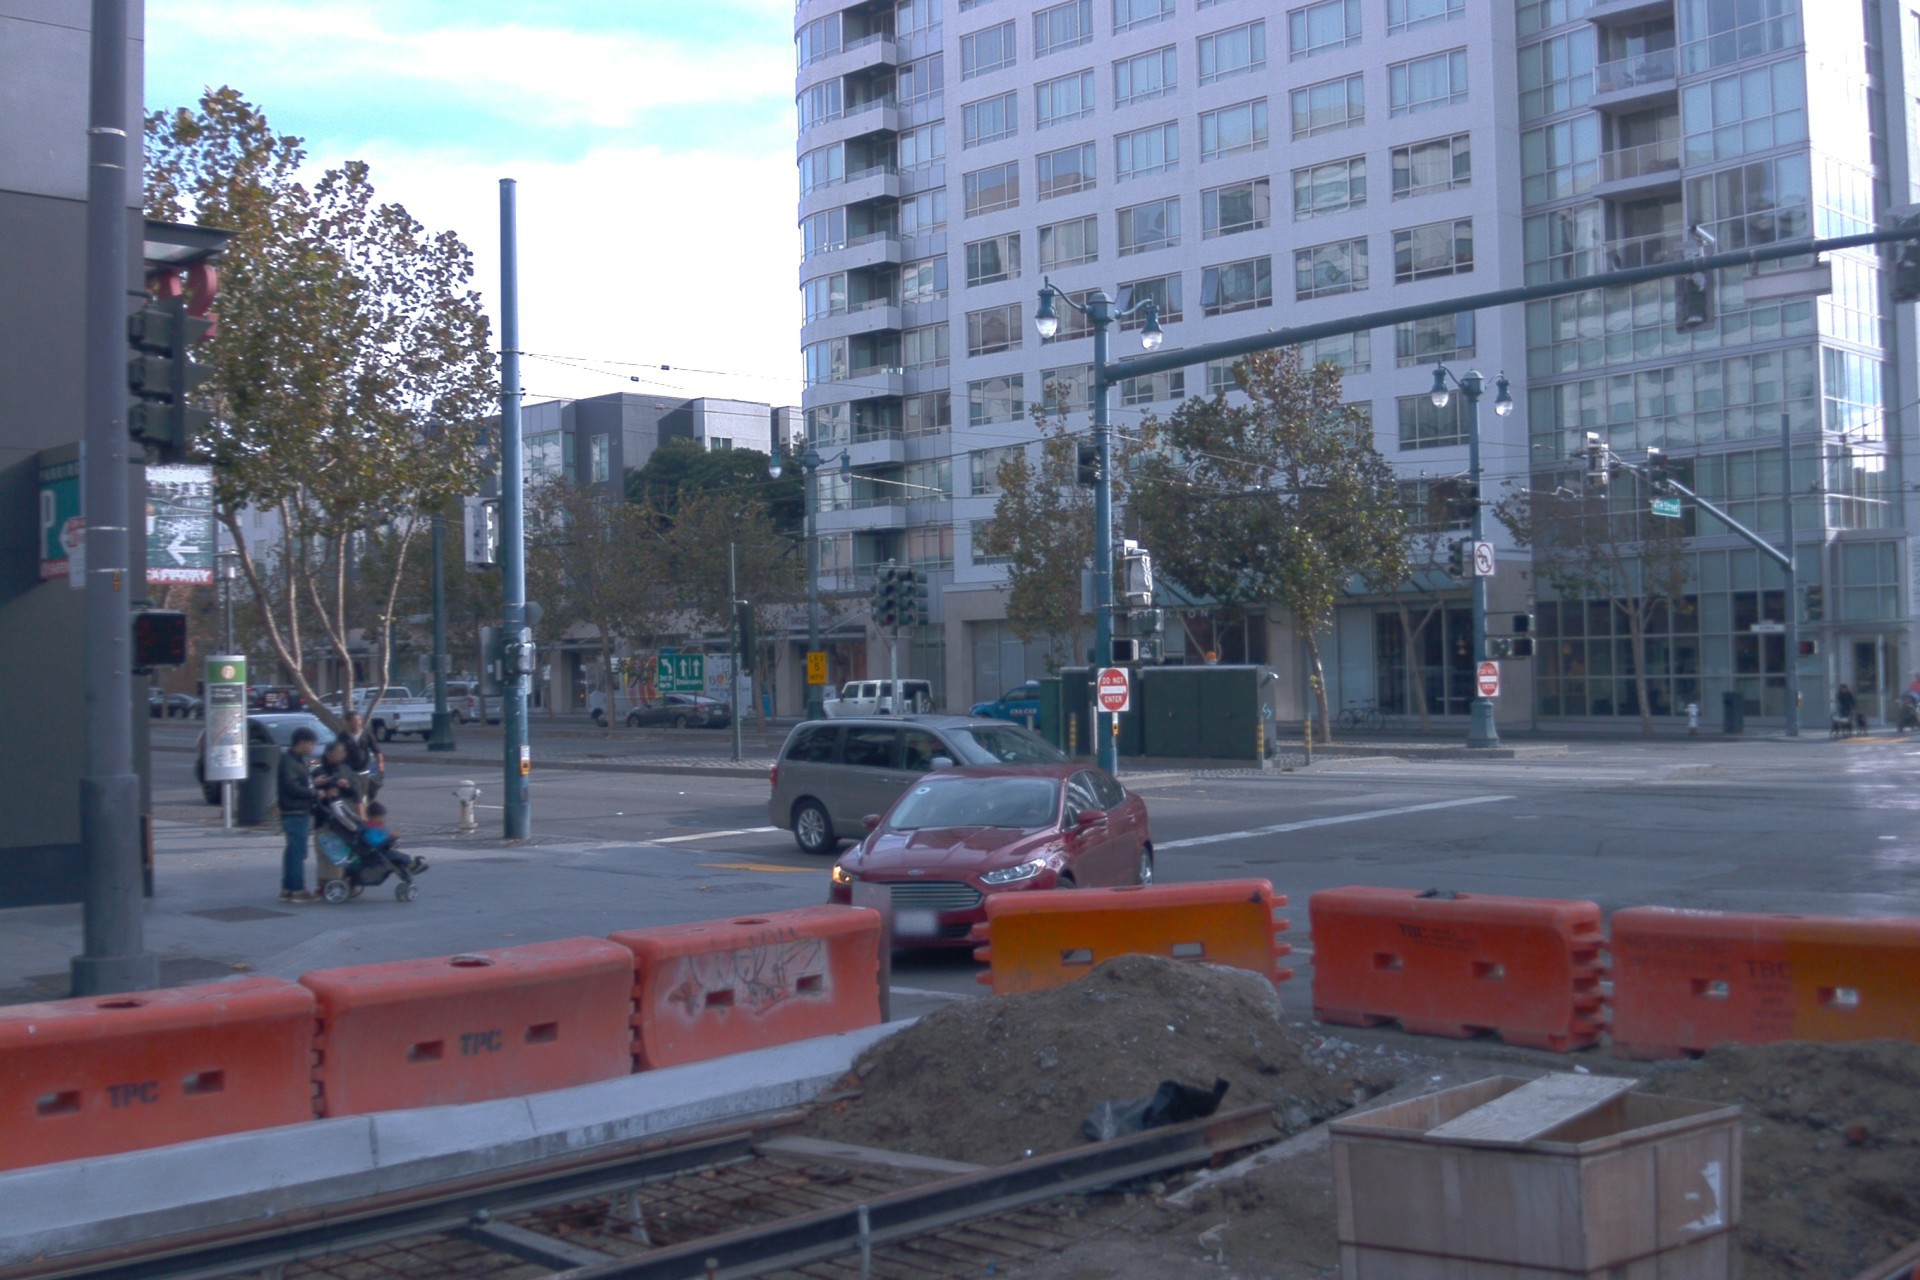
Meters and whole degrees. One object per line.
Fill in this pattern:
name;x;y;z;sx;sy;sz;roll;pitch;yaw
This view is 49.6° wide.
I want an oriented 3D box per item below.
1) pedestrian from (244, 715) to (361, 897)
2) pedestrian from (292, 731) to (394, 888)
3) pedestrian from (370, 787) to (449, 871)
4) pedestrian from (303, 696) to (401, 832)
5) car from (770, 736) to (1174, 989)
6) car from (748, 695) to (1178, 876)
pedestrian;-6.289;1.569;19.884;0.748;1.660;0.767;0;-1;38
pedestrian;-6.028;1.635;20.300;0.723;1.460;0.660;0;-1;41
pedestrian;-5.304;1.816;20.019;0.723;0.752;0.485;0;-1;-15
pedestrian;-8.553;1.721;29.217;0.981;1.830;0.942;1;-1;-44
car;0.297;1.725;17.574;2.125;1.605;4.827;0;0;17
car;-0.071;1.686;25.748;5.242;1.897;2.282;0;-1;45
